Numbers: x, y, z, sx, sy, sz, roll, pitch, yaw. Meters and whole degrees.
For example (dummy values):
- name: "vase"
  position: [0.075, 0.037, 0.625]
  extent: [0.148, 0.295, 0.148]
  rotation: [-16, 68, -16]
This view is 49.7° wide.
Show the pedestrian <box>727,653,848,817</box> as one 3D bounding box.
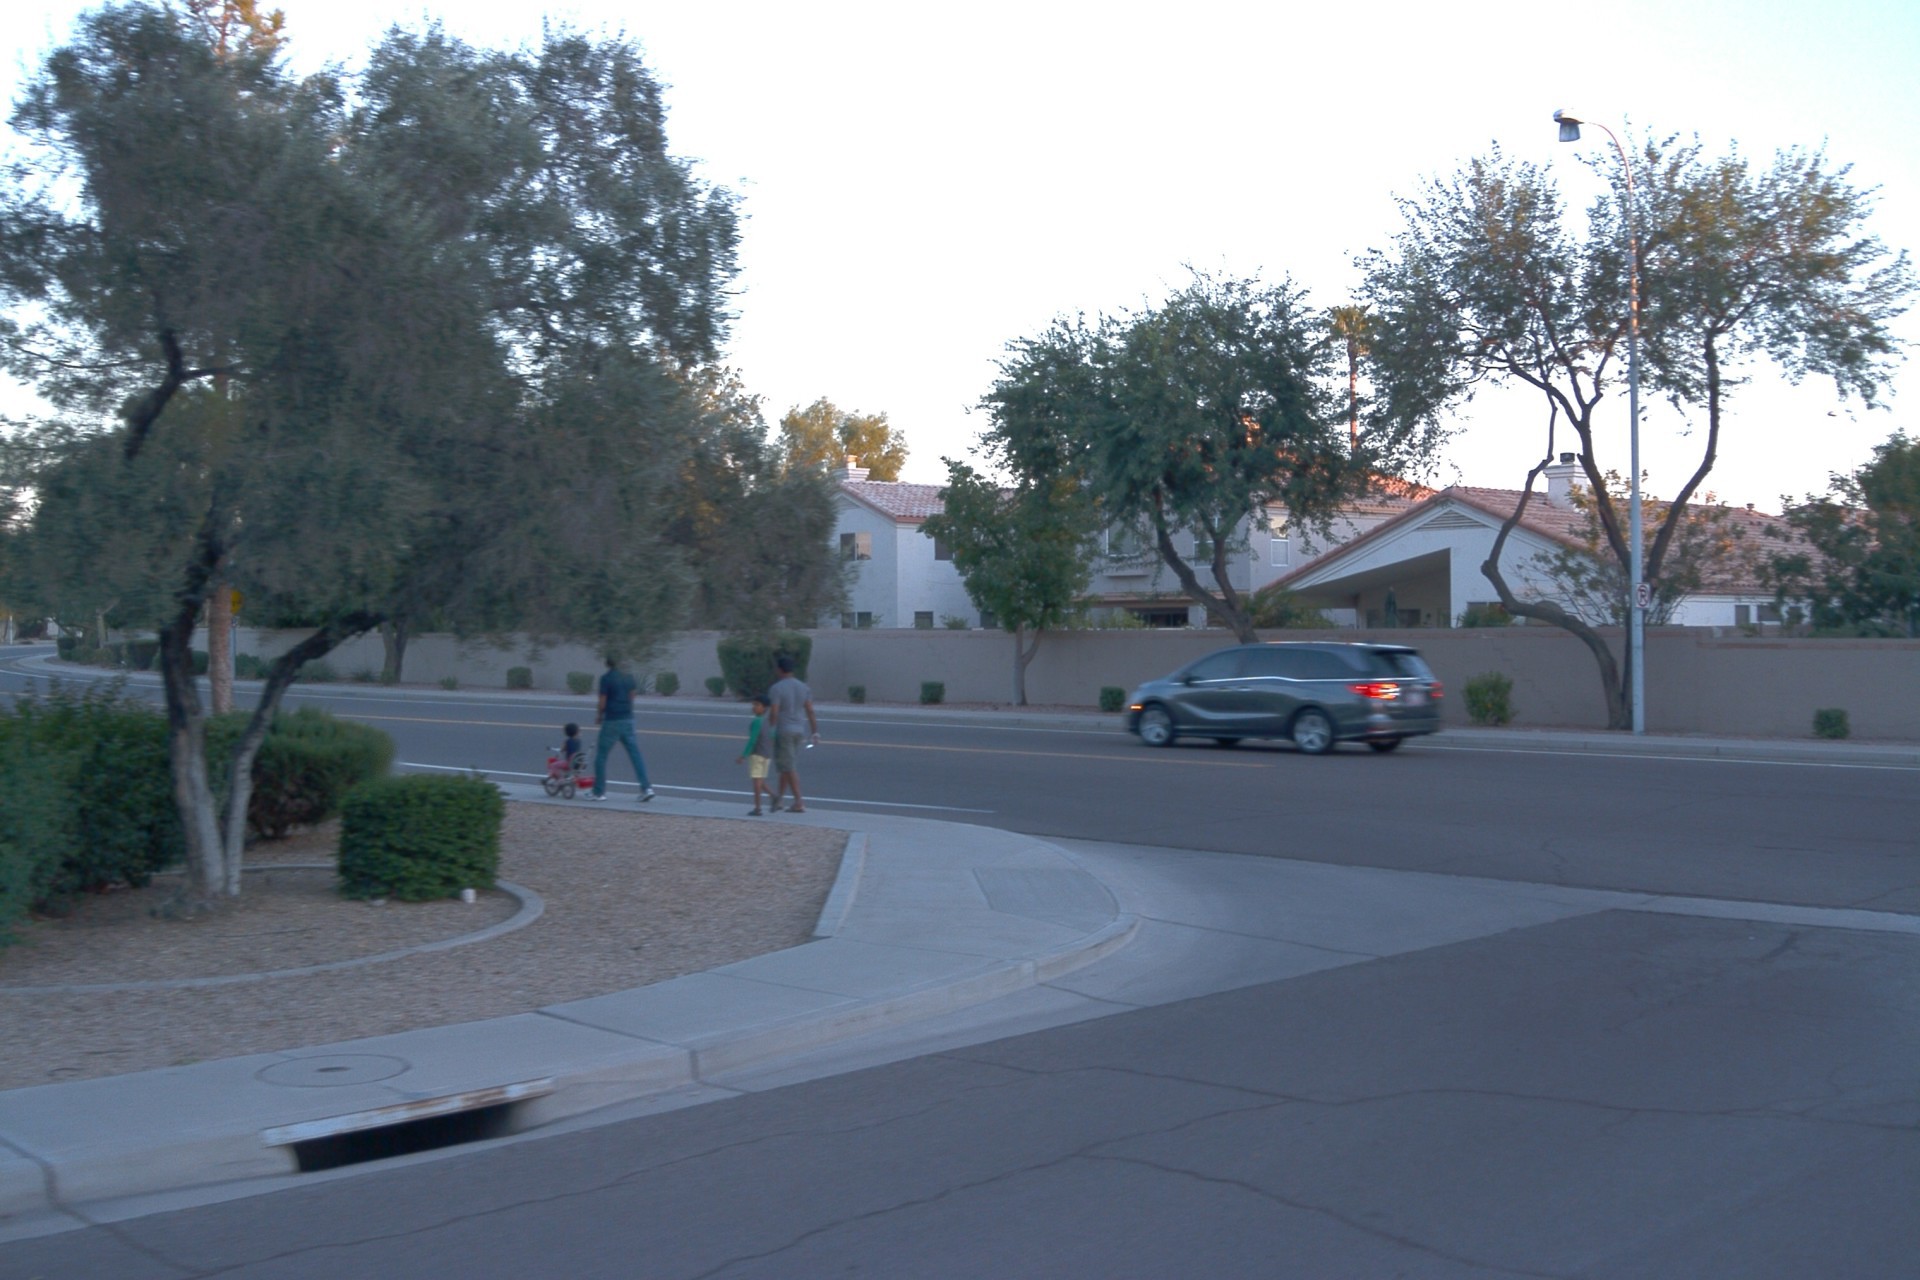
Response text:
- name: "pedestrian"
  position: [-1.862, 1.000, 22.349]
  extent: [0.910, 1.690, 0.944]
  rotation: [0, 1, -42]

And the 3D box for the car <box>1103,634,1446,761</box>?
- name: "car"
  position: [4.865, 0.824, 32.592]
  extent: [2.206, 1.780, 4.998]
  rotation: [0, 1, -44]

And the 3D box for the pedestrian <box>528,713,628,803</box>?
- name: "pedestrian"
  position: [-4.511, 1.381, 24.445]
  extent: [1.055, 0.980, 0.634]
  rotation: [1, 1, 40]

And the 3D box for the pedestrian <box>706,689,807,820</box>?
- name: "pedestrian"
  position: [-2.140, 1.185, 21.761]
  extent: [0.748, 1.300, 0.742]
  rotation: [0, 1, -42]

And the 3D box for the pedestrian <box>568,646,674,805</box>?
- name: "pedestrian"
  position: [-3.925, 0.970, 23.981]
  extent: [0.923, 1.780, 0.781]
  rotation: [1, 1, 41]
